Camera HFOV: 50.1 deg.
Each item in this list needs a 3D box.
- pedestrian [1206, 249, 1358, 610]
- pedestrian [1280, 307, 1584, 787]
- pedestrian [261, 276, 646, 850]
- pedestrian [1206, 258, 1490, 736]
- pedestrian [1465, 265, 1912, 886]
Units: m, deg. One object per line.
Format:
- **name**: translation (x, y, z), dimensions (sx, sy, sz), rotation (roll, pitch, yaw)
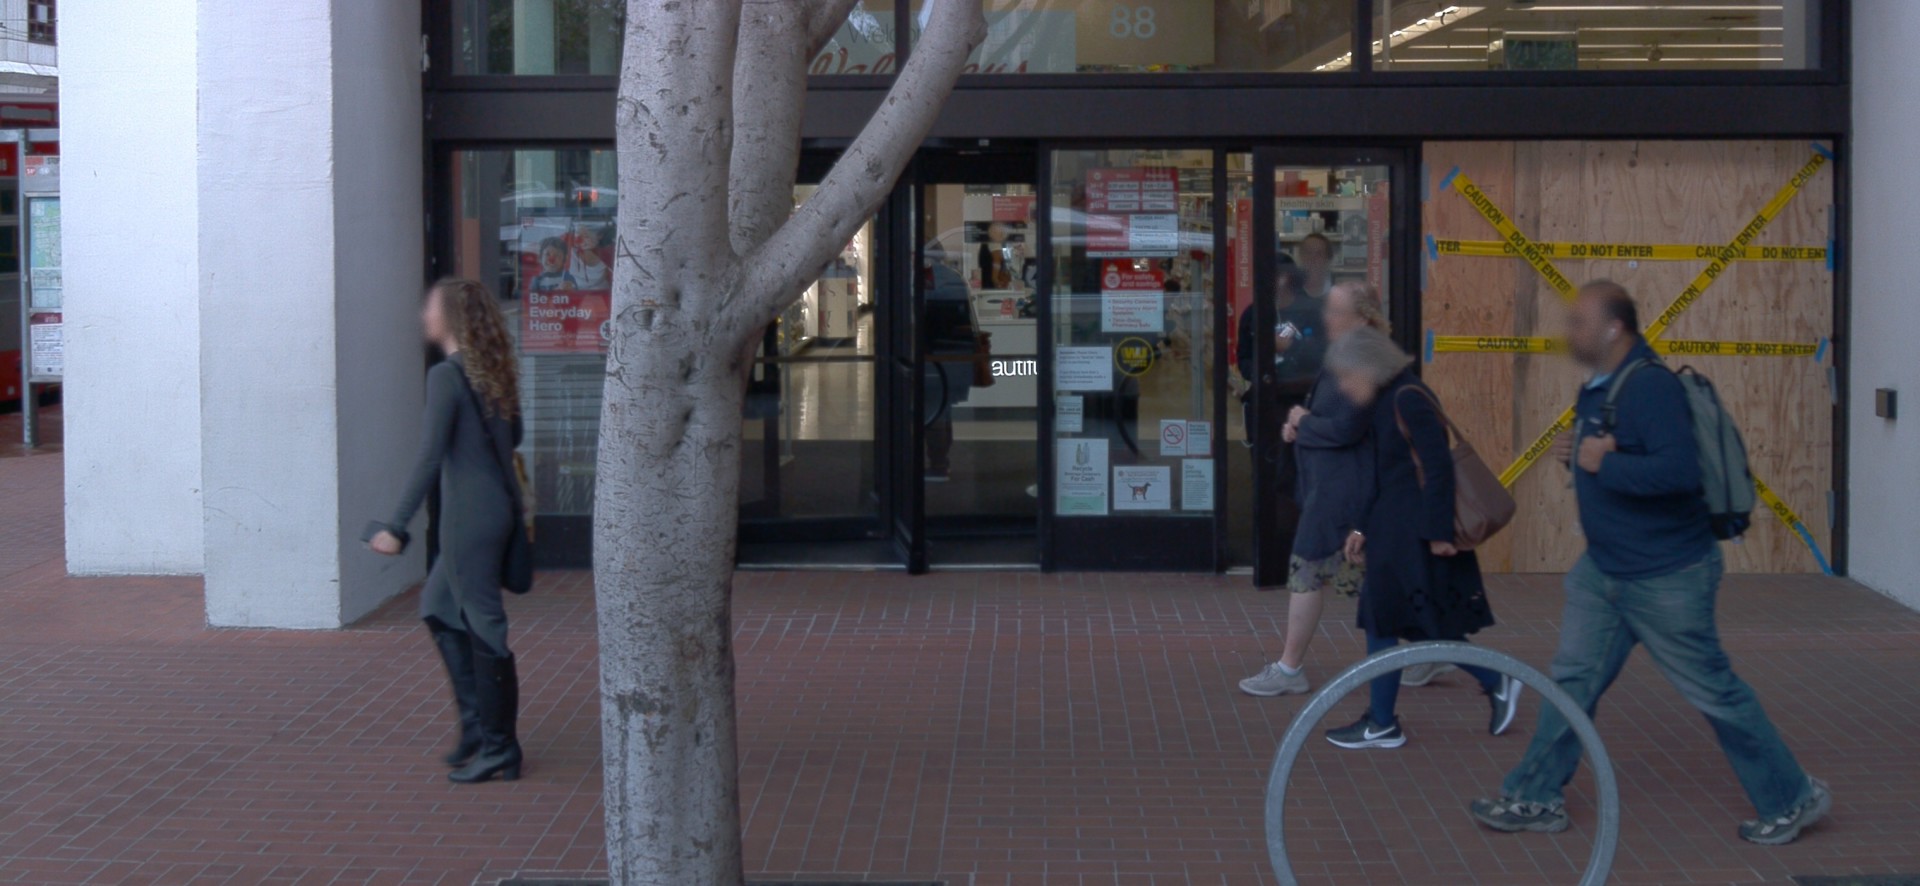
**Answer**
- **pedestrian**: translation (1.553, -0.106, 9.935), dimensions (0.694, 1.655, 0.868), rotation (0, 1, 8)
- **pedestrian**: translation (1.616, 0.316, 7.159), dimensions (0.893, 1.555, 0.782), rotation (0, 1, 1)
- **pedestrian**: translation (-1.621, 0.325, 6.717), dimensions (0.969, 1.725, 0.849), rotation (0, 1, 8)
- **pedestrian**: translation (1.448, 0.158, 7.796), dimensions (0.915, 1.715, 0.742), rotation (0, 1, -2)
- **pedestrian**: translation (2.091, 0.374, 6.024), dimensions (1.004, 1.775, 0.835), rotation (0, 1, -2)
